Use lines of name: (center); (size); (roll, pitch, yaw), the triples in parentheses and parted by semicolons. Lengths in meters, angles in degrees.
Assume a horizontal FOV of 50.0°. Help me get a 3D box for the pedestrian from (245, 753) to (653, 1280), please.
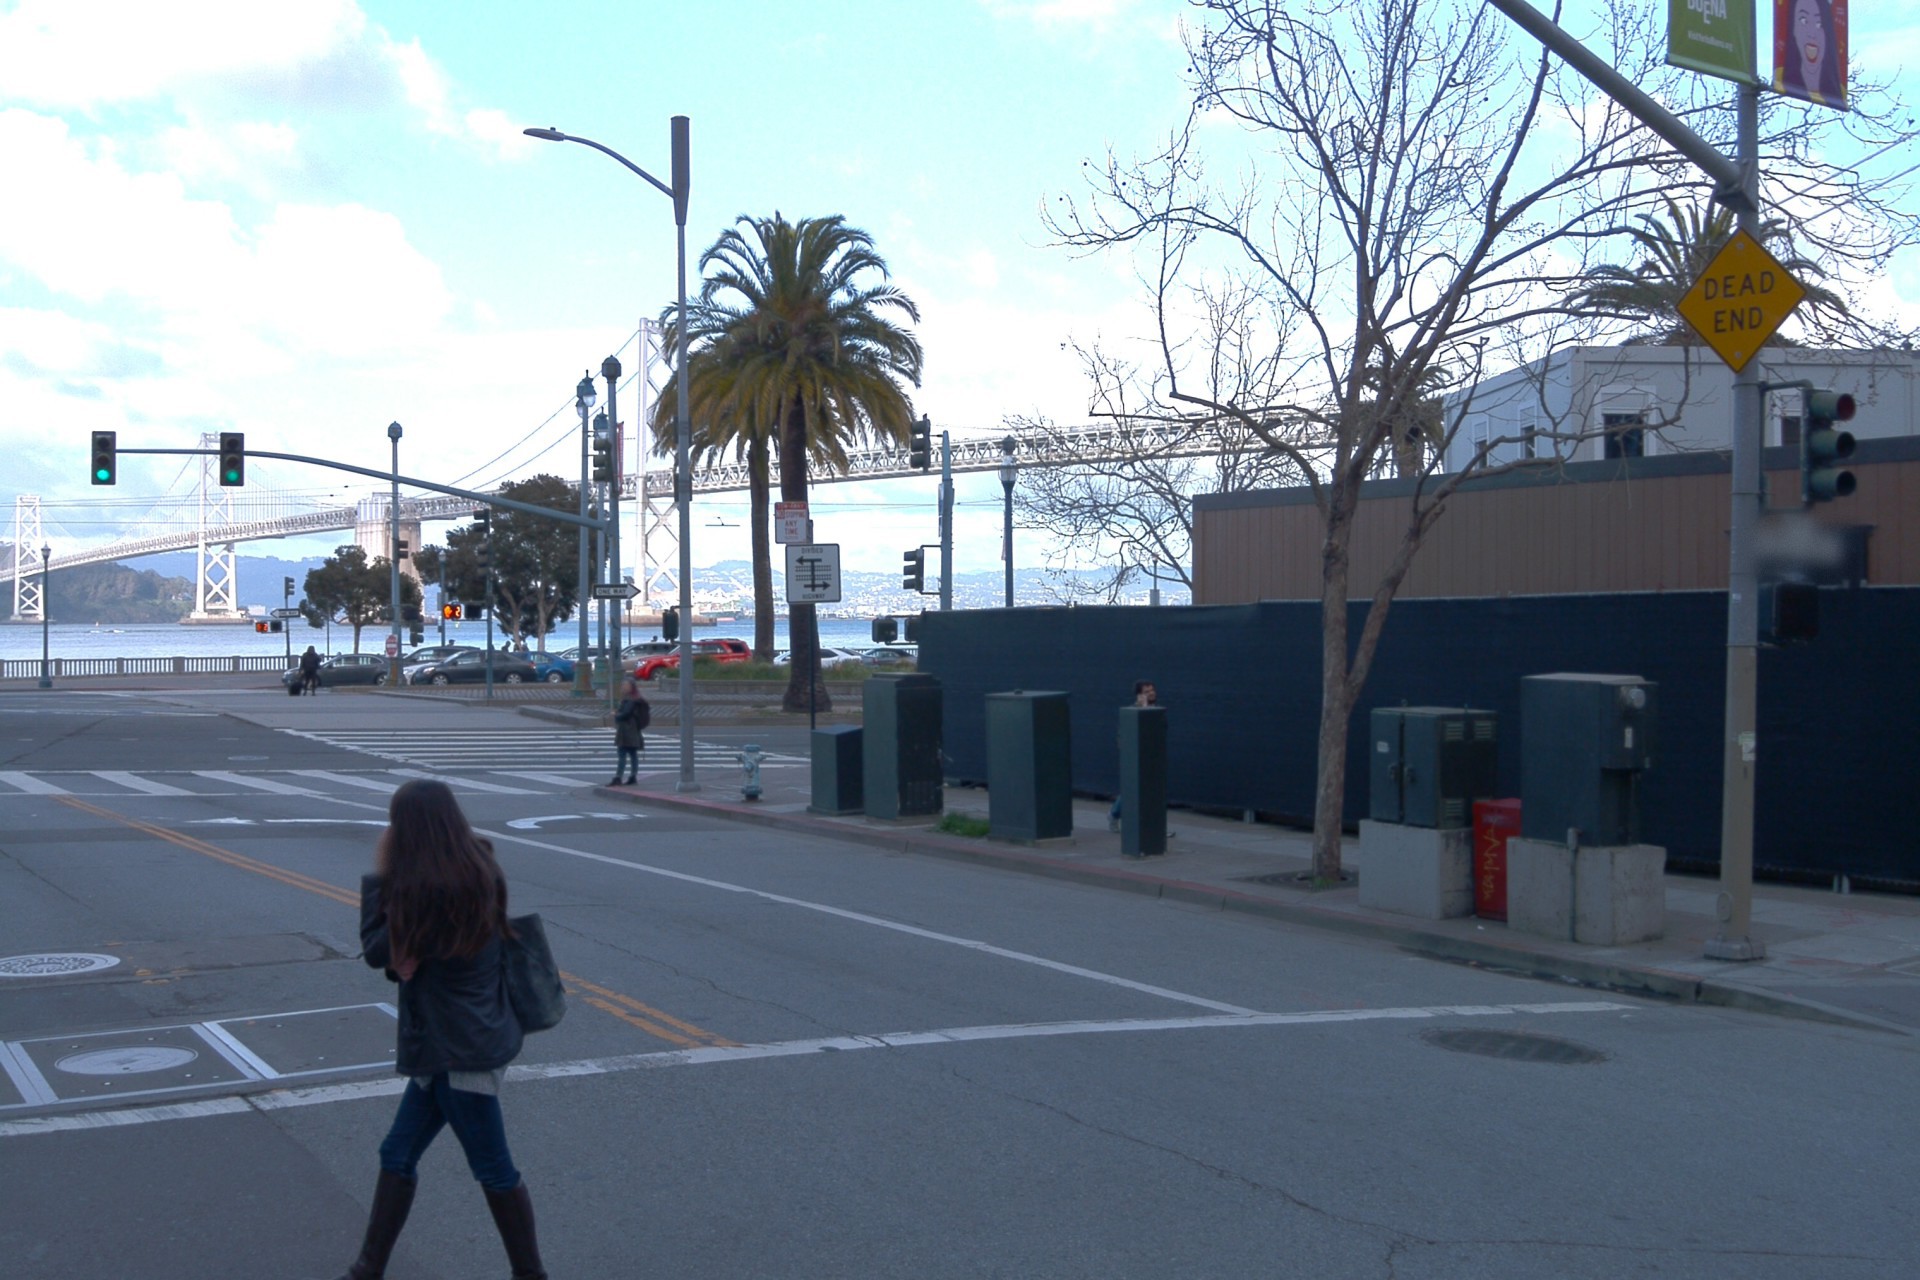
pedestrian: (-1.511, 1.233, 6.104); (1.092, 1.720, 0.847); (0, 1, -15)

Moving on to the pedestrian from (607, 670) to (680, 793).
pedestrian: (-4.760, 1.355, 30.911); (0.841, 1.790, 0.831); (0, 1, -28)

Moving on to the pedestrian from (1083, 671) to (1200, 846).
pedestrian: (1.981, 1.266, 22.516); (0.792, 1.820, 1.064); (0, 1, -30)
